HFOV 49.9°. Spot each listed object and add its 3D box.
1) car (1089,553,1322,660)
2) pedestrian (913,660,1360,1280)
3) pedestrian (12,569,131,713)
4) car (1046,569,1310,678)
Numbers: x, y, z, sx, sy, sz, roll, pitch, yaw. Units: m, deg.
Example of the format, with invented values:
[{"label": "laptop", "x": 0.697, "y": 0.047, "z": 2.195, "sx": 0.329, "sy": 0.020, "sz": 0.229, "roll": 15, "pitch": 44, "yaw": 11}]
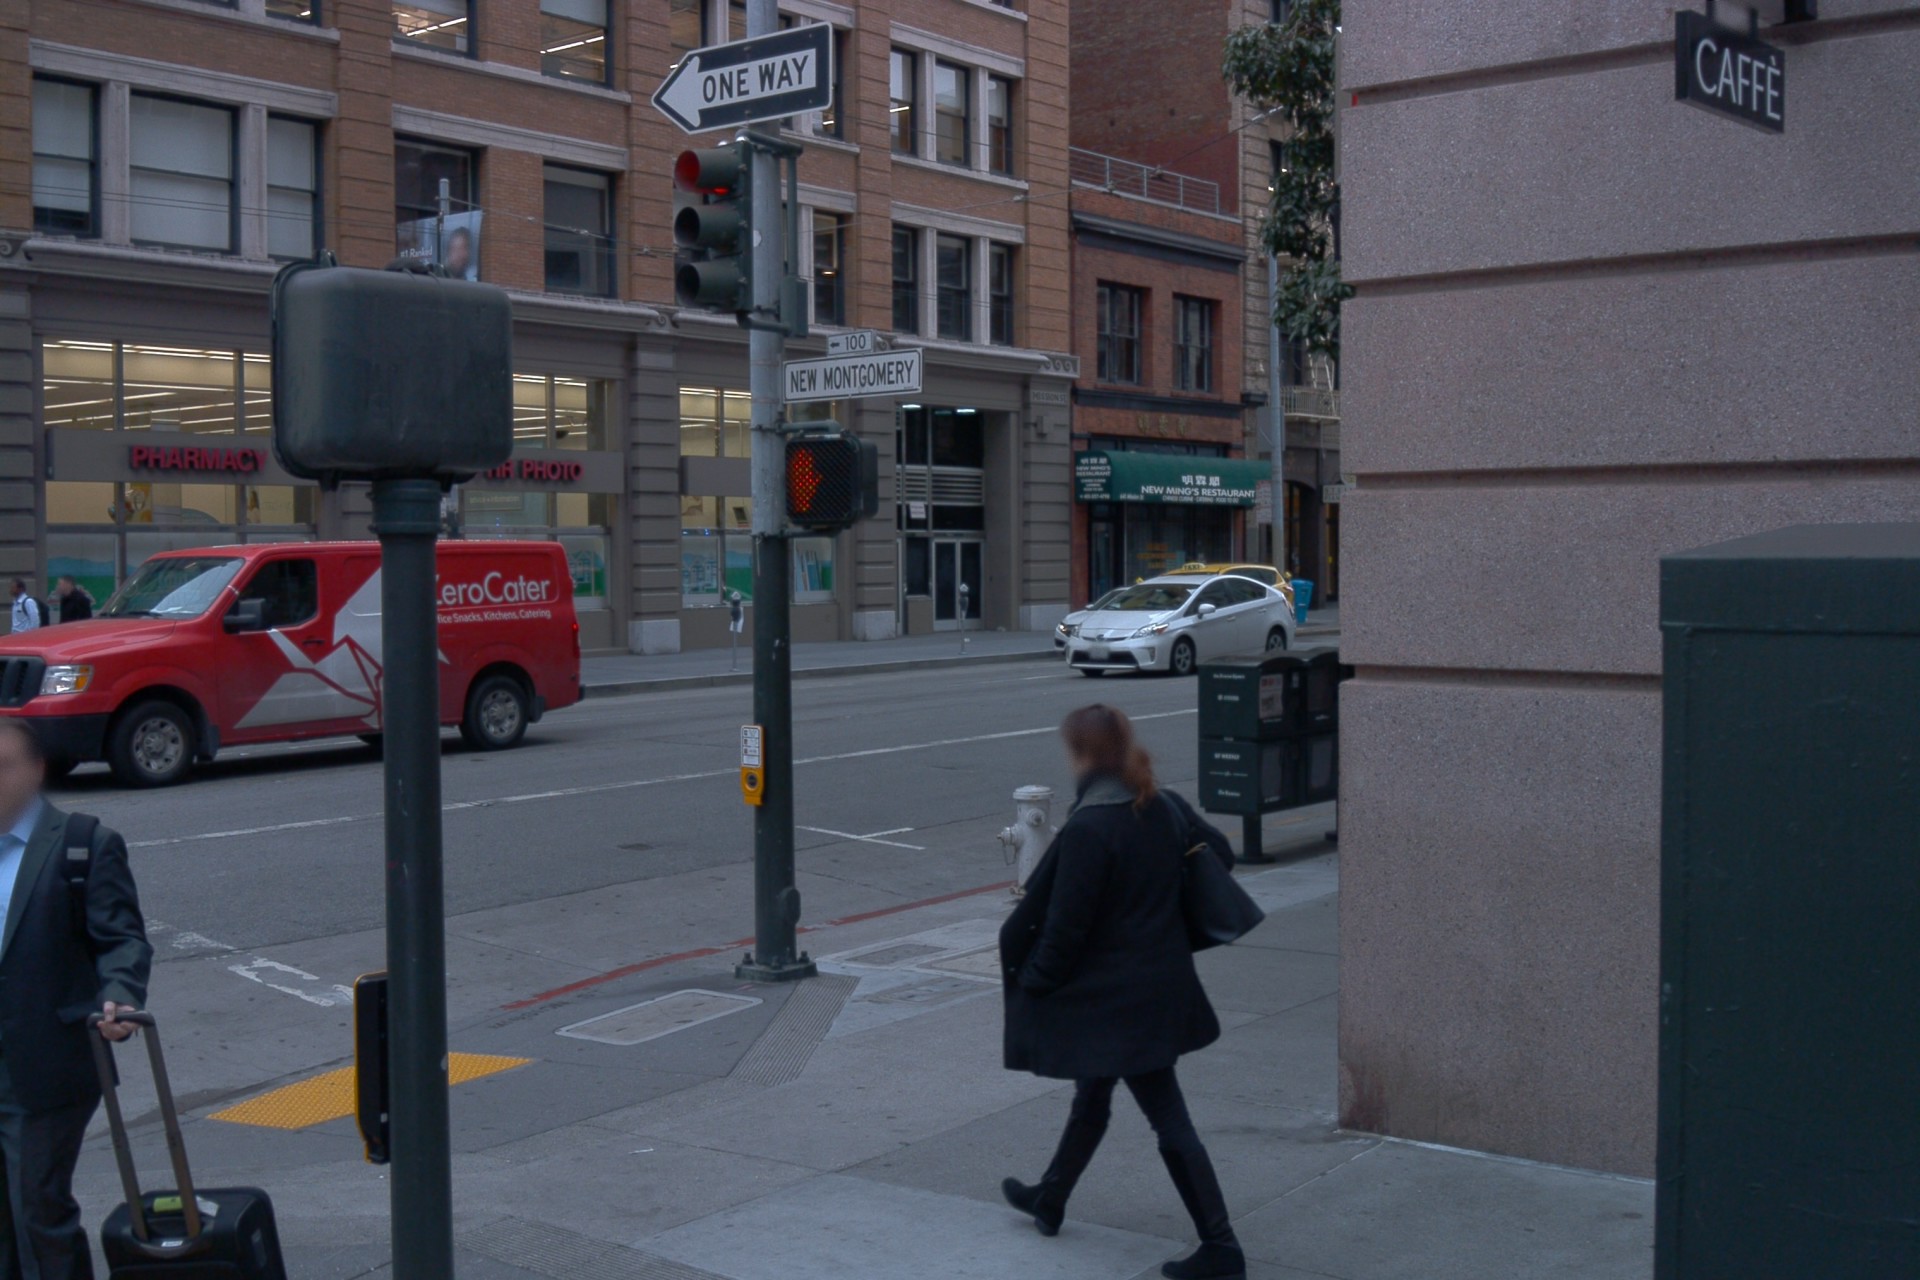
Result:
[{"label": "car", "x": 4.469, "y": -0.591, "z": 37.101, "sx": 1.992, "sy": 1.800, "sz": 4.401, "roll": 0, "pitch": 1, "yaw": 42}, {"label": "pedestrian", "x": 0.490, "y": 0.917, "z": 5.720, "sx": 0.963, "sy": 1.700, "sz": 0.780, "roll": 0, "pitch": 1, "yaw": 38}, {"label": "pedestrian", "x": -11.519, "y": 0.006, "z": 26.790, "sx": 0.862, "sy": 1.830, "sz": 1.121, "roll": 0, "pitch": 1, "yaw": 38}, {"label": "car", "x": 3.409, "y": -0.254, "z": 31.641, "sx": 1.948, "sy": 1.550, "sz": 4.391, "roll": 0, "pitch": 1, "yaw": 39}]
